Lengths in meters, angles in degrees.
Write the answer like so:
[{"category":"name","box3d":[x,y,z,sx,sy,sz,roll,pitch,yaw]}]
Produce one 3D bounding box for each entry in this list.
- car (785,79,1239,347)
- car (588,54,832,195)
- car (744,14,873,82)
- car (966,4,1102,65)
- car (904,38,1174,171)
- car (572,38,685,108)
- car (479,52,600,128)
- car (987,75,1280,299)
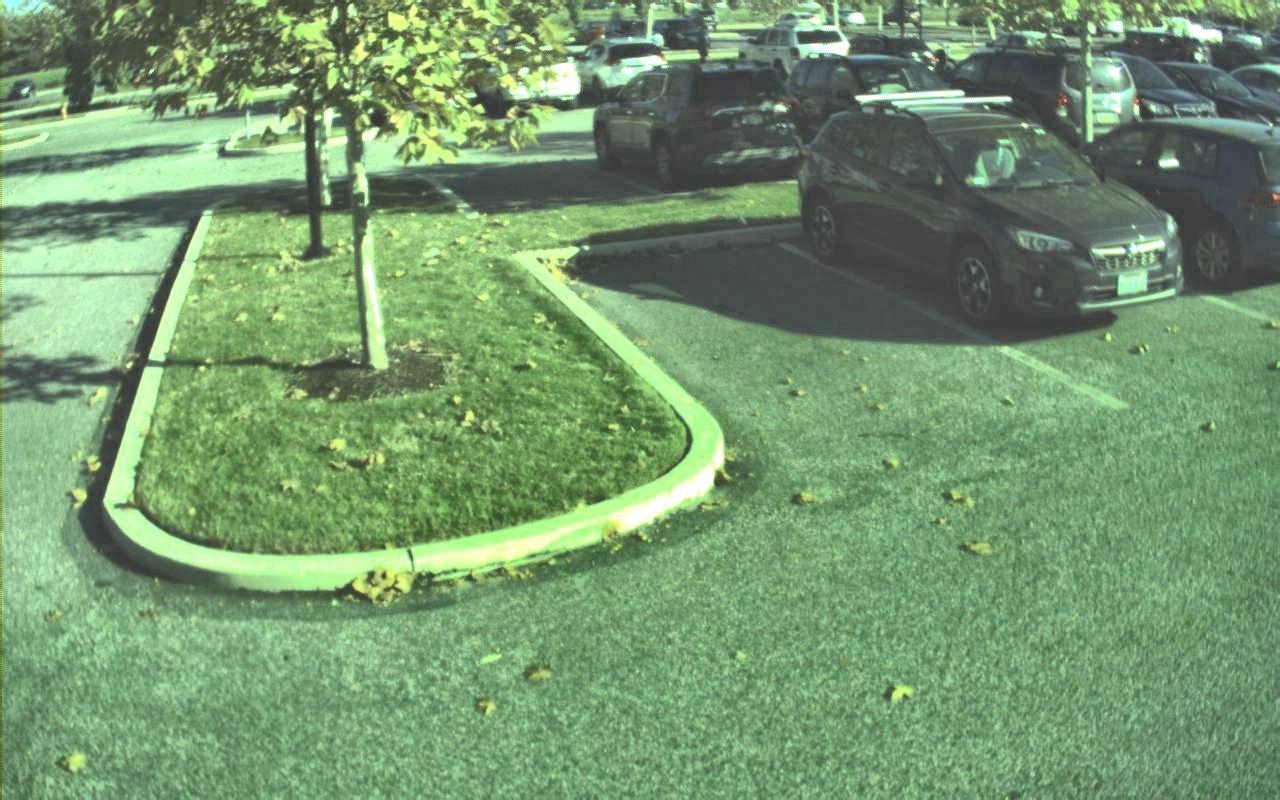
[{"category":"car","box3d":[3.102,-1.899,10.816,1.945,1.687,4.534,-6,17,-17]},{"category":"car","box3d":[0.864,-4.212,18.405,2.017,1.726,4.752,-6,17,-17]},{"category":"car","box3d":[4.580,-9.794,33.967,2.033,1.768,4.692,-5,17,-13]},{"category":"car","box3d":[12.060,-11.228,36.194,1.972,1.680,4.587,-6,17,-18]},{"category":"car","box3d":[6.252,-4.780,18.969,2.030,1.745,4.630,-7,18,-20]},{"category":"car","box3d":[-0.388,-8.650,32.514,1.967,1.686,4.494,-5,17,-13]},{"category":"car","box3d":[-2.681,-8.011,31.708,2.011,1.694,4.643,-6,17,-18]},{"category":"car","box3d":[5.557,-2.326,11.796,1.939,1.630,4.382,-7,18,-20]}]
